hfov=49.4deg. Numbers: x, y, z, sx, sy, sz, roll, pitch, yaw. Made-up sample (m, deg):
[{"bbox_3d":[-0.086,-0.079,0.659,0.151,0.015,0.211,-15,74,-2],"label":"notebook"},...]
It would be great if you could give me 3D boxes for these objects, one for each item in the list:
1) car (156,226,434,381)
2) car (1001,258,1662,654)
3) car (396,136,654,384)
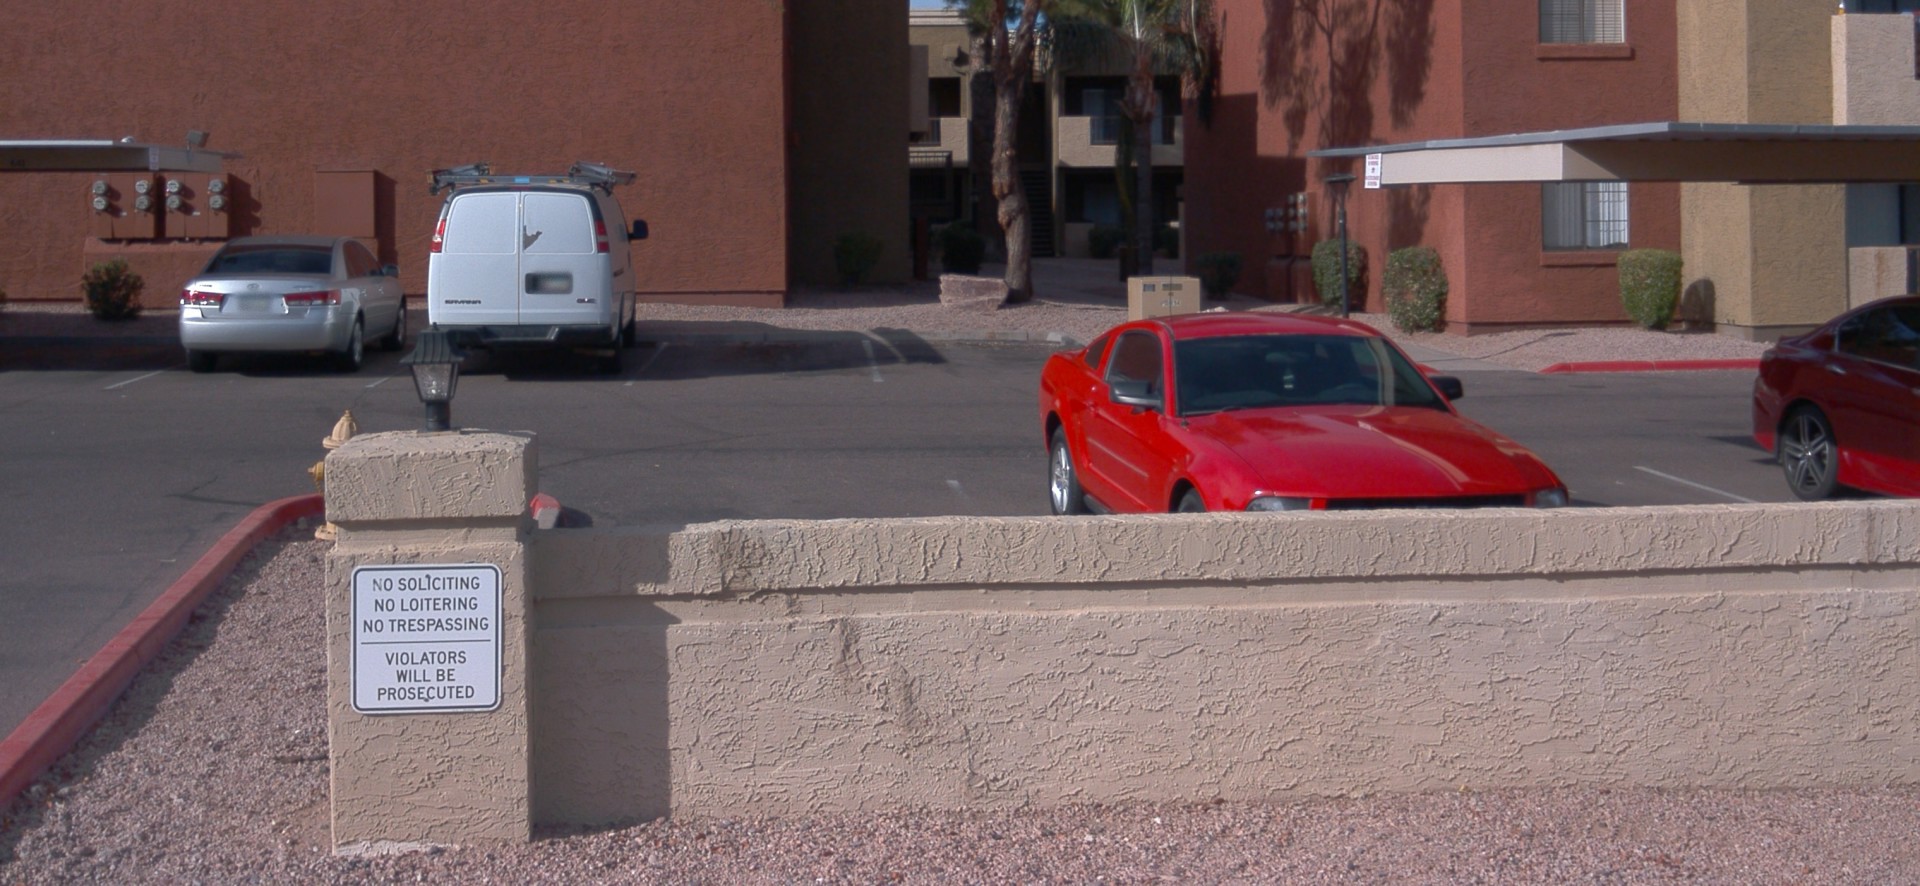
[{"bbox_3d":[-7.429,-1.649,23.789,2.006,1.575,4.452,-1,5,-4],"label":"car"},{"bbox_3d":[1.727,-0.167,11.658,2.193,1.694,4.785,-1,5,-9],"label":"car"},{"bbox_3d":[-4.860,-2.143,24.230,2.351,2.513,5.708,-1,4,-6],"label":"car"}]
